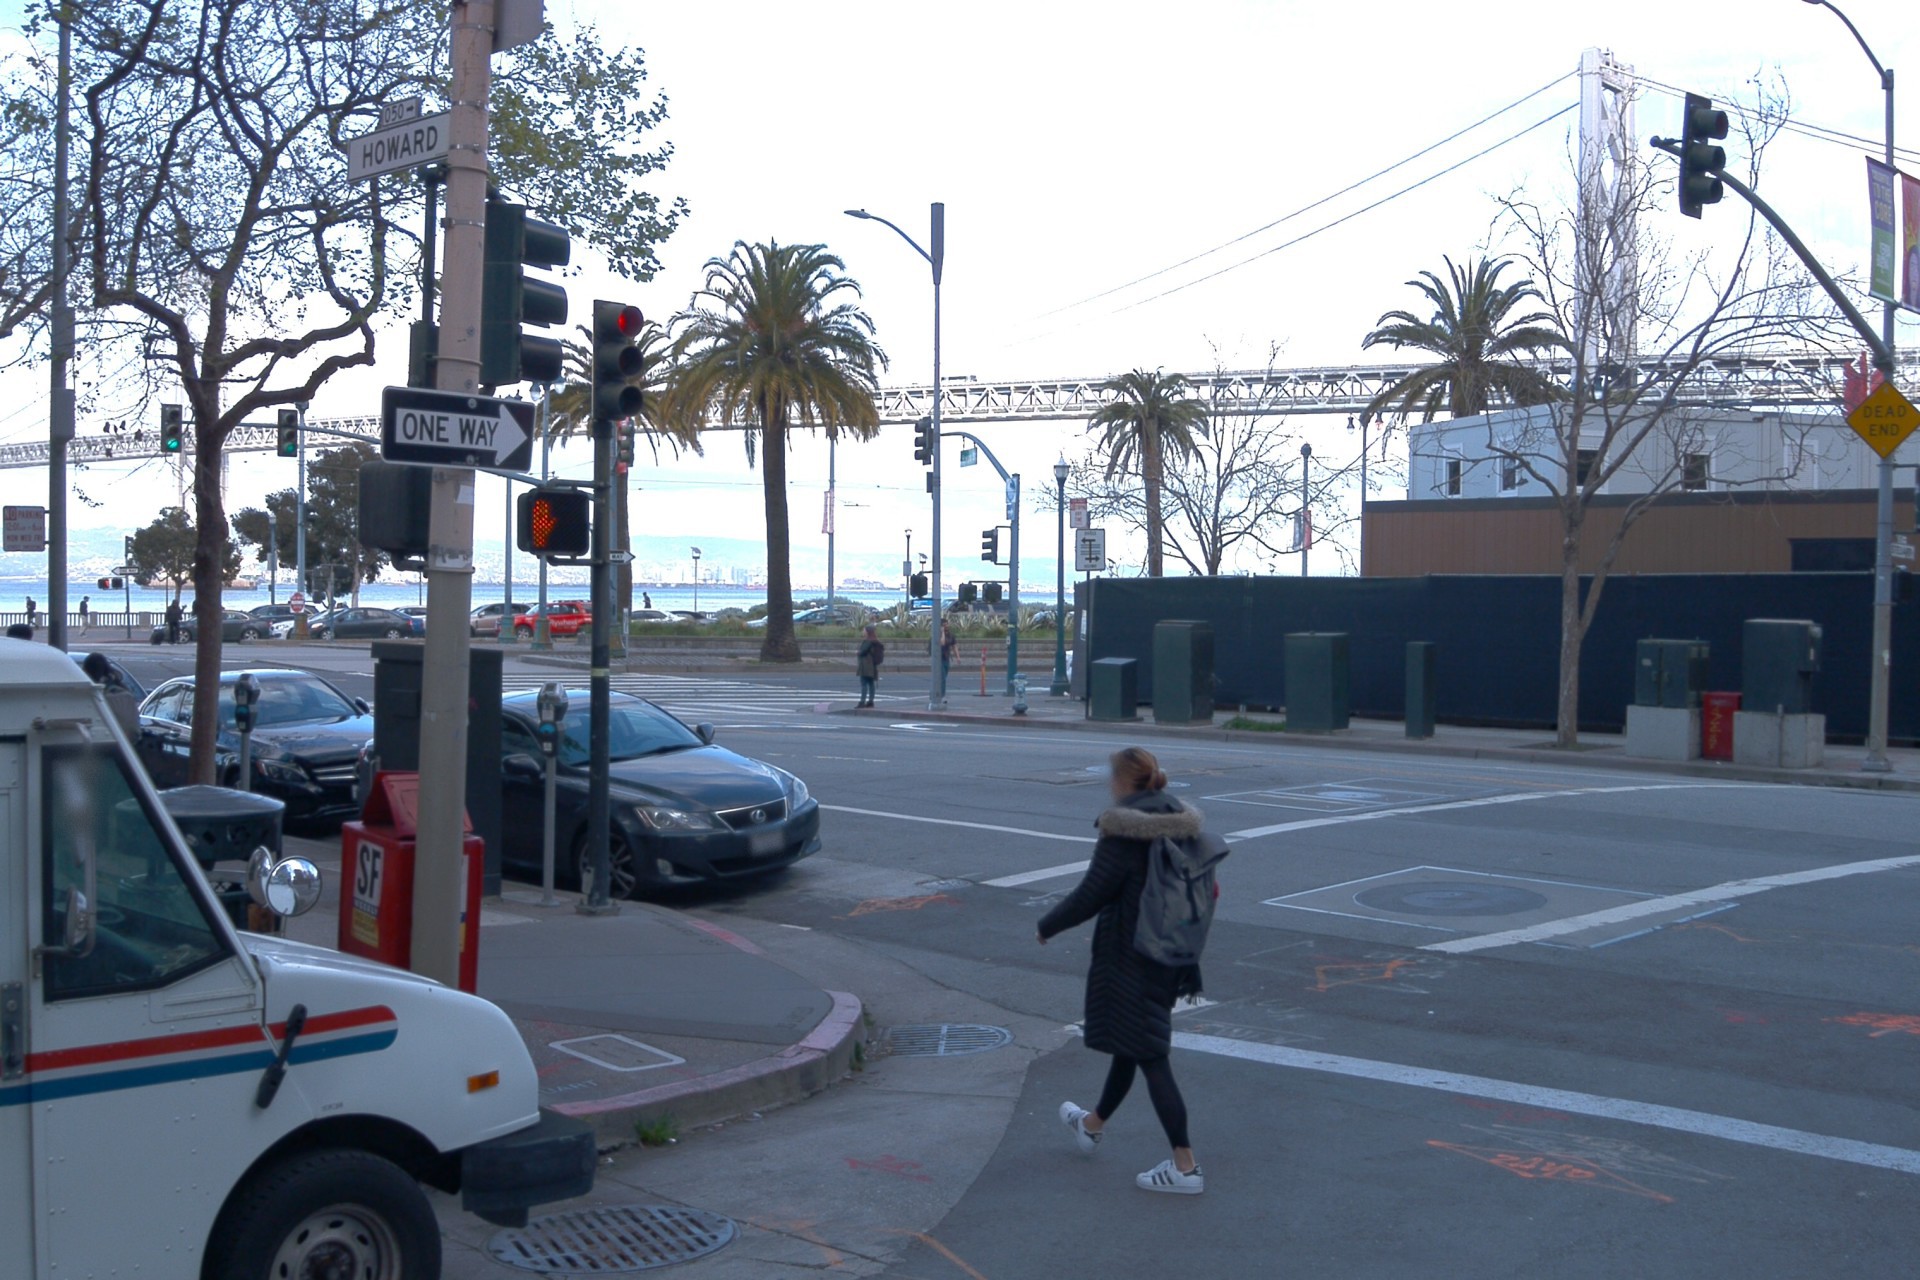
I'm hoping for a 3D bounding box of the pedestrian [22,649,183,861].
[{"bbox_3d":[-6.825,0.884,16.362,0.872,1.590,1.030,-1,1,-43],"label":"pedestrian"}]

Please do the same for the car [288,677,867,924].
[{"bbox_3d":[-3.155,1.130,16.322,4.756,1.510,2.075,1,1,43],"label":"car"}]

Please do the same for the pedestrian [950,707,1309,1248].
[{"bbox_3d":[0.629,1.192,7.790,0.805,1.810,1.089,-1,1,-43],"label":"pedestrian"}]

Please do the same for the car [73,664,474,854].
[{"bbox_3d":[-6.998,1.079,20.652,2.119,1.540,4.744,-1,1,-42],"label":"car"}]
